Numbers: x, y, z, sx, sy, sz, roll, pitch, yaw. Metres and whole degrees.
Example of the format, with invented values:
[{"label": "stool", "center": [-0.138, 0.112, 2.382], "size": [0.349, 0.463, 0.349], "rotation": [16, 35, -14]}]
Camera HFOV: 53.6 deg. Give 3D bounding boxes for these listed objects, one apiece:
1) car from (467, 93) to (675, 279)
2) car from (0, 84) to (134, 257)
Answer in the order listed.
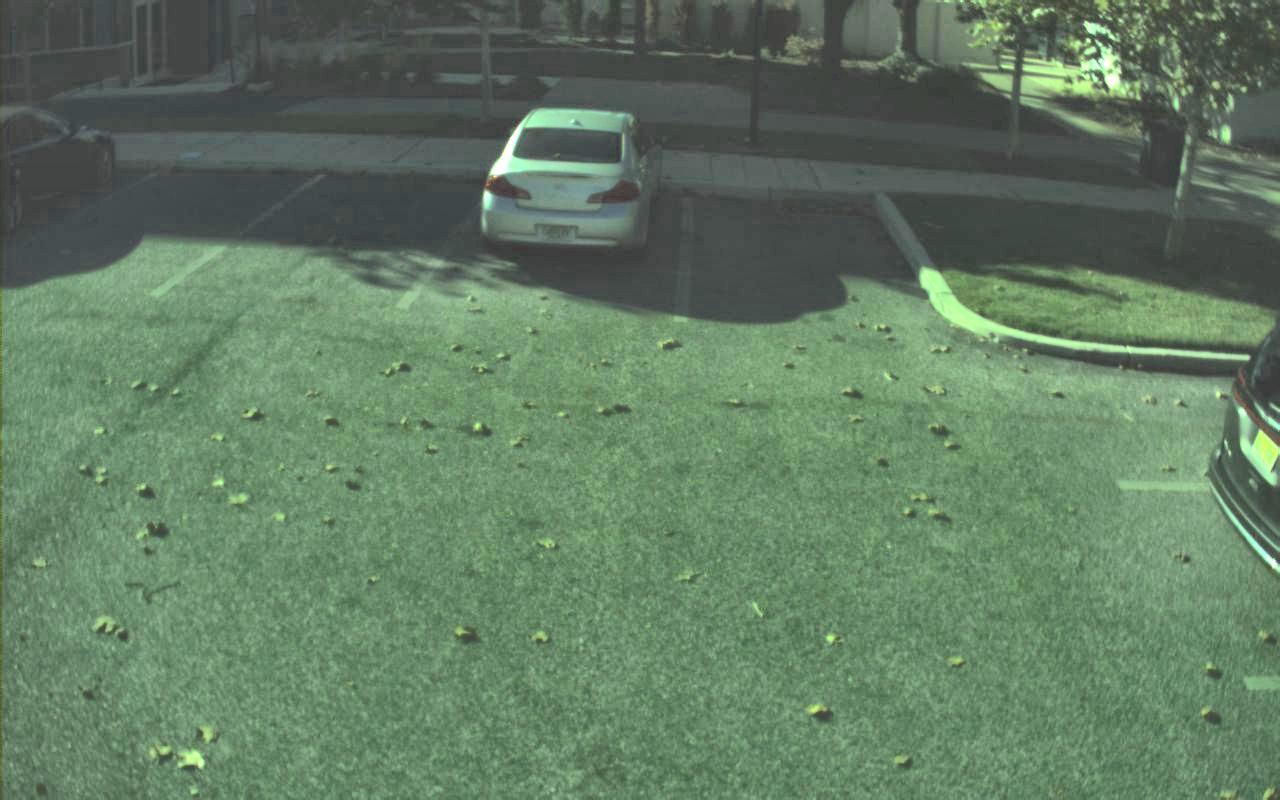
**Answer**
[{"label": "car", "center": [-0.617, -2.603, 14.333], "size": [1.911, 1.568, 4.415], "rotation": [0, 17, 3]}, {"label": "car", "center": [-8.506, -3.106, 14.593], "size": [1.971, 1.588, 4.612], "rotation": [0, 17, 2]}]
